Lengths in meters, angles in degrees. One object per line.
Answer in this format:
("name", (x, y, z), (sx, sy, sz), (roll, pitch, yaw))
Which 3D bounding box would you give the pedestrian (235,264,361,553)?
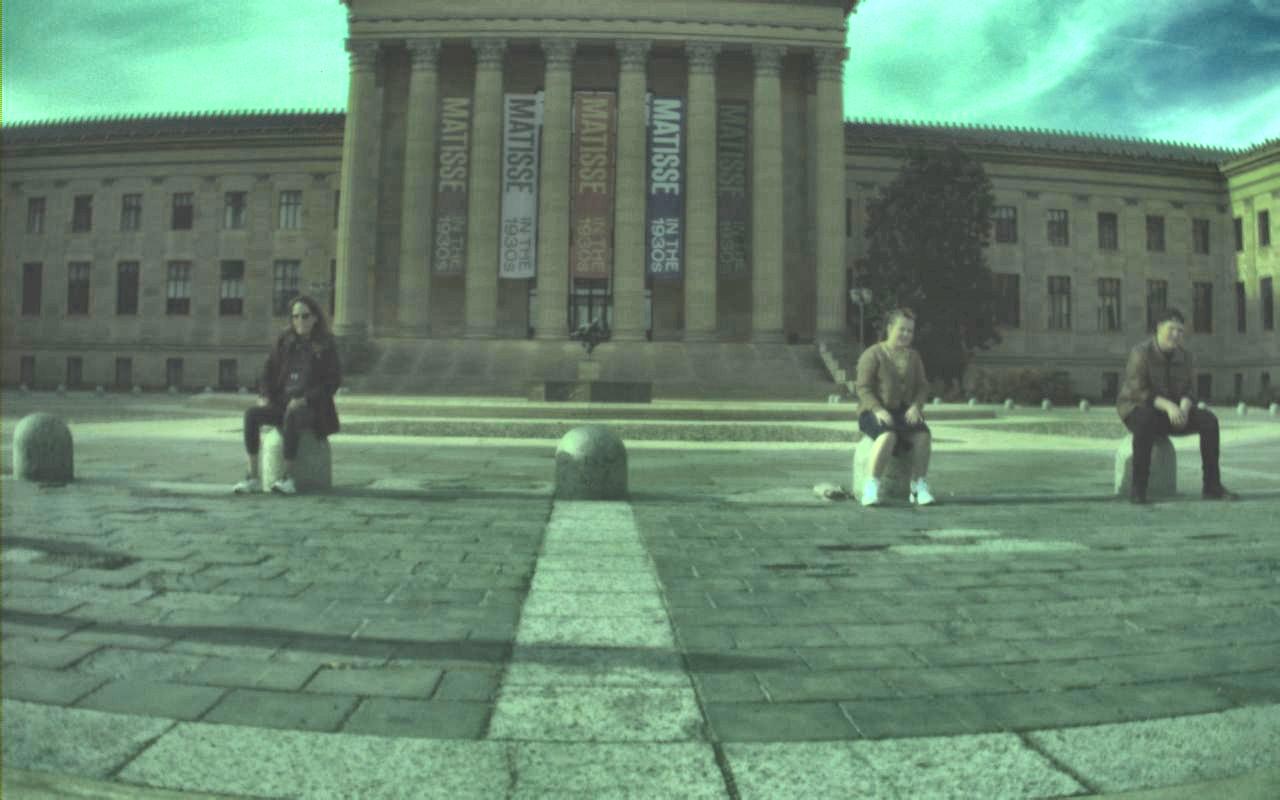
("pedestrian", (-2.169, 0.054, 7.735), (0.785, 1.746, 0.774), (0, 0, -14))

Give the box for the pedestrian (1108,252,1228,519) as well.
("pedestrian", (3.522, -0.083, 7.837), (0.745, 1.704, 0.775), (1, 0, 16))

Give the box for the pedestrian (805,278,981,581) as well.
("pedestrian", (1.595, 0.171, 7.884), (0.835, 1.802, 0.842), (0, 0, -13))
